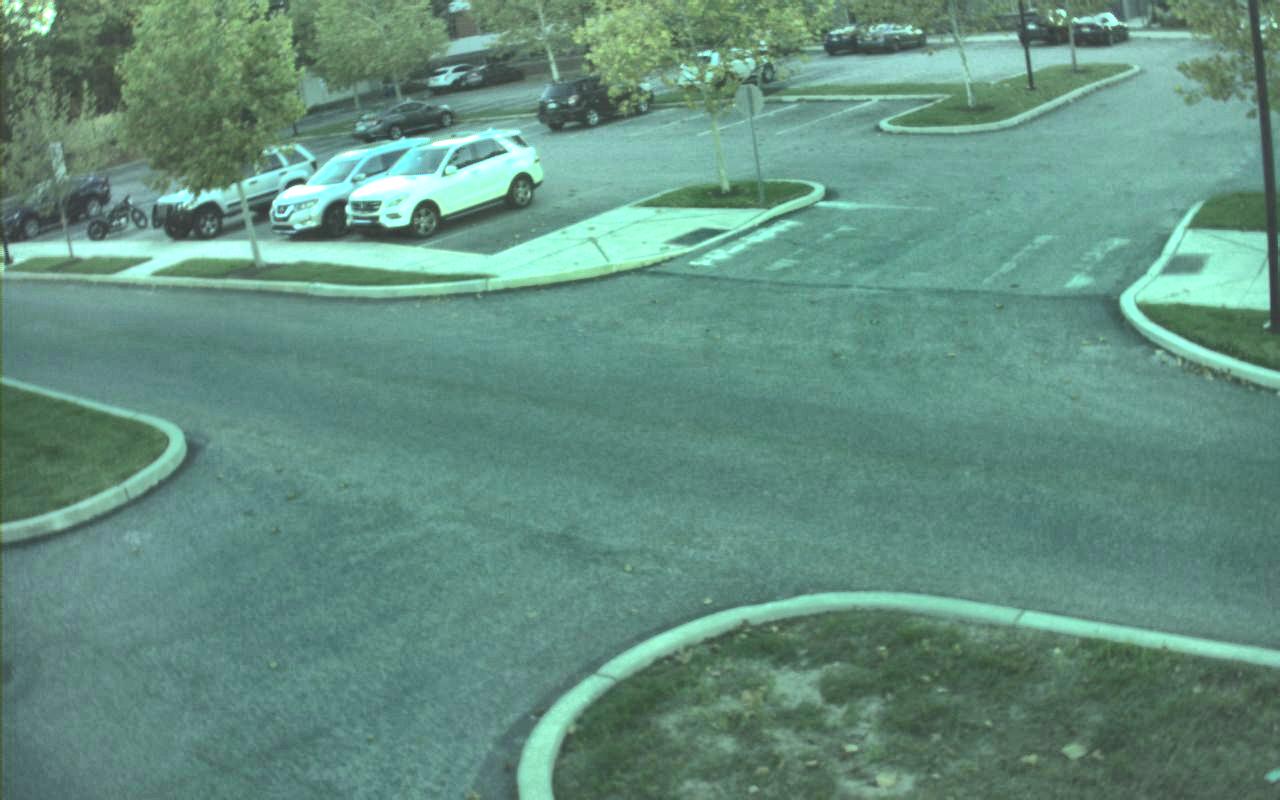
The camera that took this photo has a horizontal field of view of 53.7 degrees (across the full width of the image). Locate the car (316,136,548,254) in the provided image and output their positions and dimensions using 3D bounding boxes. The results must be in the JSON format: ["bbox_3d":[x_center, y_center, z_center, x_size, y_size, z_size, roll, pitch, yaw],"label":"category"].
[{"bbox_3d":[-4.332,-4.439,26.237,2.045,1.833,4.854,10,20,36],"label":"car"}]

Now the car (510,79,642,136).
[{"bbox_3d":[-2.091,-9.795,41.466,1.980,1.638,4.620,10,19,34],"label":"car"}]

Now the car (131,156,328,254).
[{"bbox_3d":[-10.564,-5.062,30.799,2.055,1.791,4.887,12,20,38],"label":"car"}]

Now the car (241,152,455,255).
[{"bbox_3d":[-6.560,-4.500,27.659,1.979,1.643,4.647,12,20,38],"label":"car"}]
